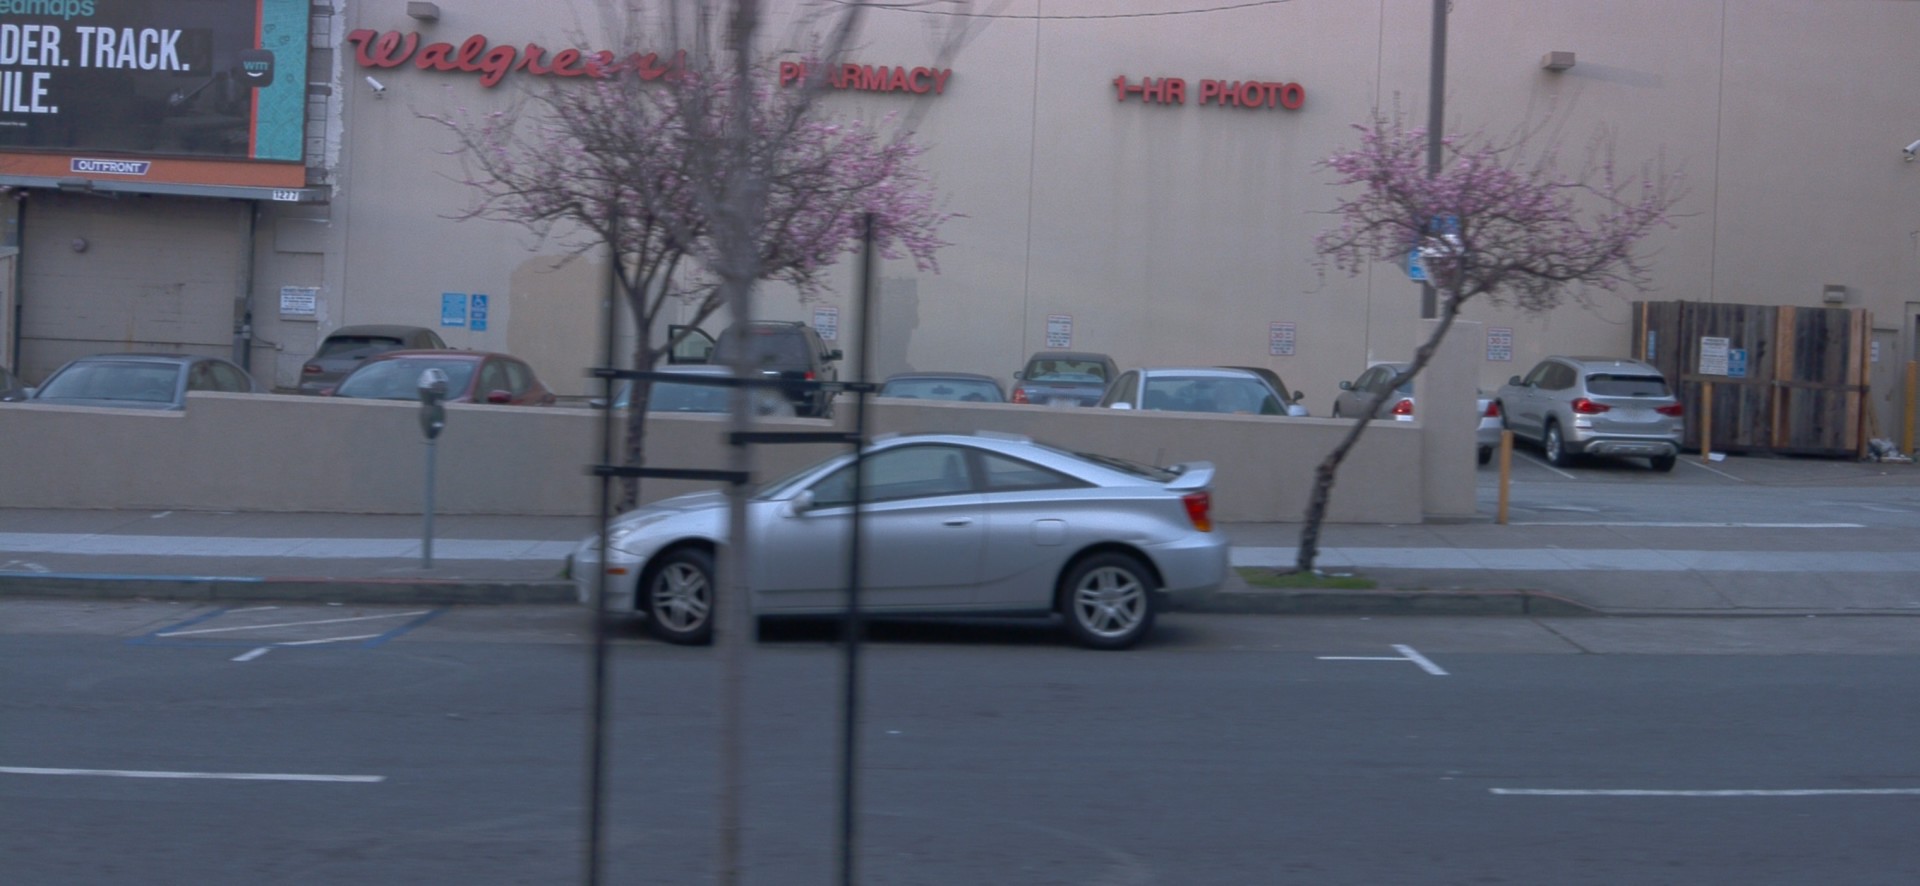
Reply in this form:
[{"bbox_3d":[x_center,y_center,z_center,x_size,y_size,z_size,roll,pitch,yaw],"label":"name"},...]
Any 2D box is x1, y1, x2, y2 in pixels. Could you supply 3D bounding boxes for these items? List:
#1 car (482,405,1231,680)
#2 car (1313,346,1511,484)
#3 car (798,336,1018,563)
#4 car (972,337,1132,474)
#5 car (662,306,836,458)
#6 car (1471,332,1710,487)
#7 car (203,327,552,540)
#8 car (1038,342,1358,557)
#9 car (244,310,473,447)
[{"bbox_3d":[-0.612,0.572,13.114,4.410,1.424,1.961,0,5,0],"label":"car"},{"bbox_3d":[7.037,-0.510,32.531,2.100,1.725,4.428,0,6,-1],"label":"car"},{"bbox_3d":[-0.523,-0.061,21.114,1.996,1.761,4.772,0,6,-1],"label":"car"},{"bbox_3d":[1.551,-0.674,32.772,2.158,1.703,4.521,1,6,7],"label":"car"},{"bbox_3d":[-3.241,-1.050,32.629,2.140,1.979,4.794,0,6,2],"label":"car"},{"bbox_3d":[9.865,-0.621,32.679,2.237,1.988,4.734,0,6,-1],"label":"car"},{"bbox_3d":[-5.806,-0.222,21.241,2.169,1.661,4.715,0,6,1],"label":"car"},{"bbox_3d":[2.222,-0.070,20.840,2.186,1.551,5.080,0,6,-6],"label":"car"},{"bbox_3d":[-9.480,-1.116,32.930,2.190,1.760,4.940,0,6,0],"label":"car"}]
